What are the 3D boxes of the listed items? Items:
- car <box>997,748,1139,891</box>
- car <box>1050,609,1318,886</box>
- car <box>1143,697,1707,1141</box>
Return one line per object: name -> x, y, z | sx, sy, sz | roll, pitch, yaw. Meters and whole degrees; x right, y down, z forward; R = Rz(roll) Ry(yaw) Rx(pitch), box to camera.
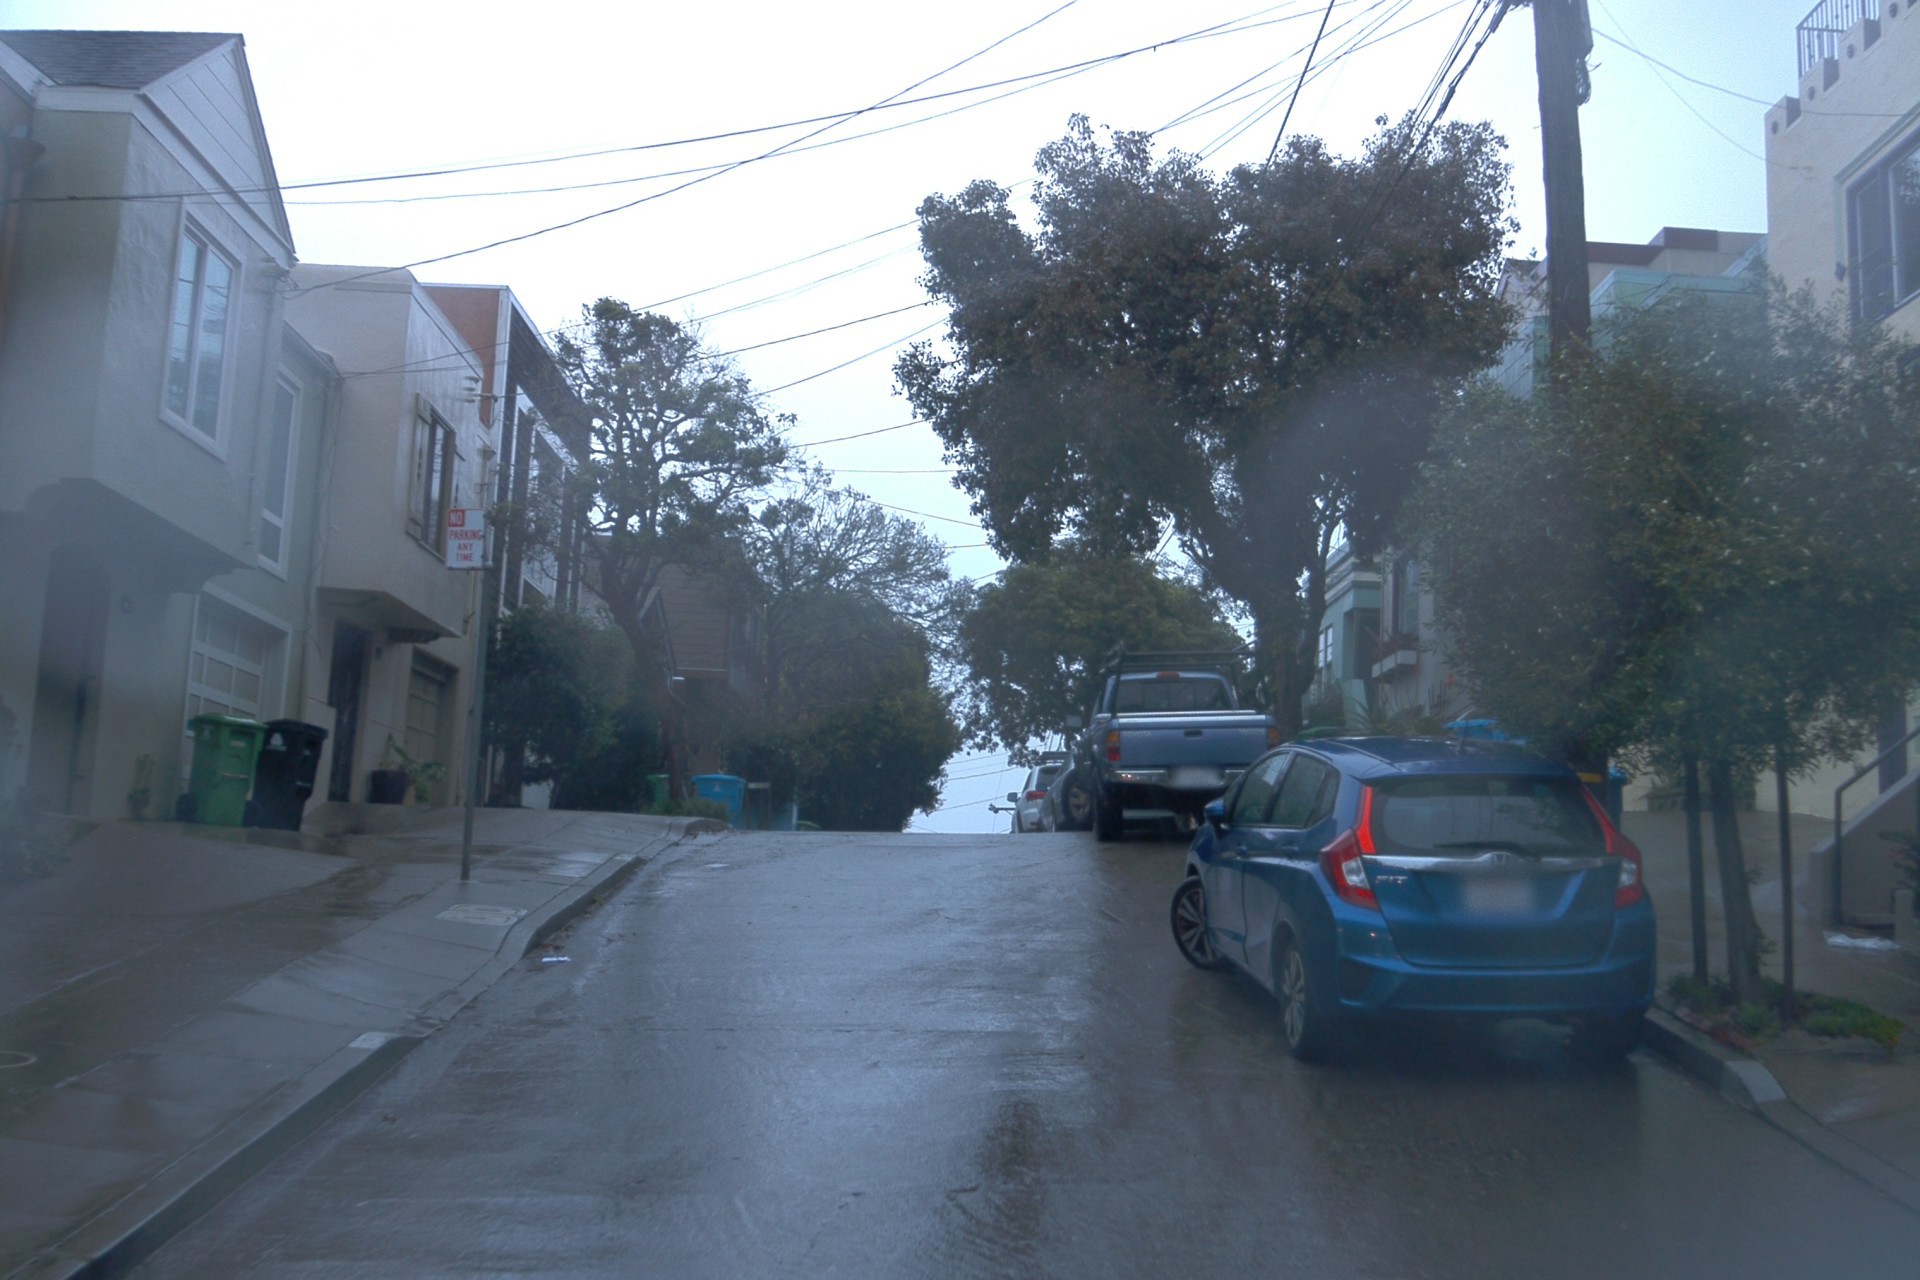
car -> 1.921, 3.240, 38.175 | 2.211, 2.140, 4.911 | 1, 0, -1
car -> 2.176, 0.964, 21.657 | 2.116, 2.510, 5.436 | 1, 0, -1
car -> 2.288, 1.322, 11.361 | 1.835, 1.830, 4.181 | 1, 0, -5
